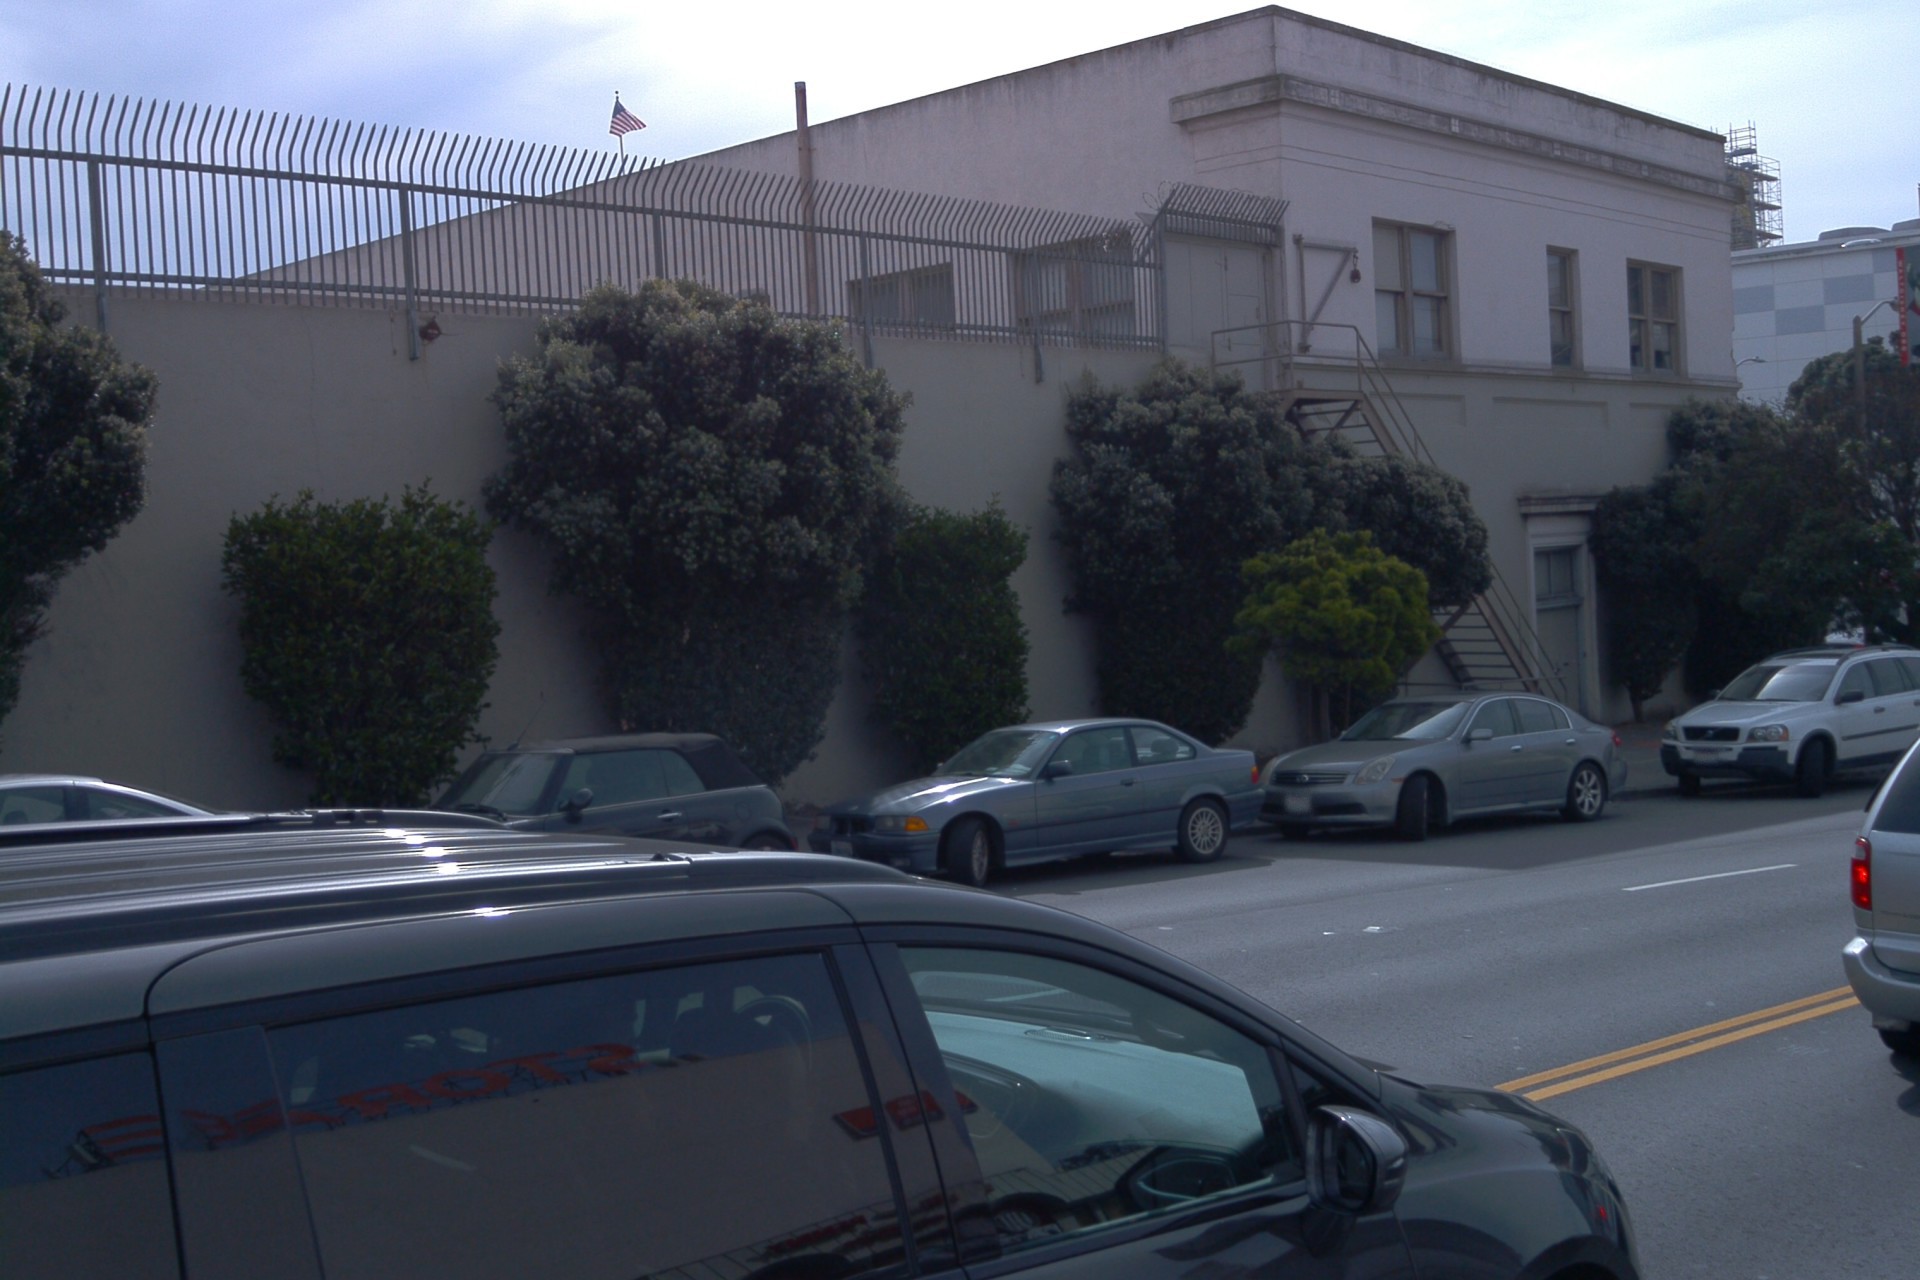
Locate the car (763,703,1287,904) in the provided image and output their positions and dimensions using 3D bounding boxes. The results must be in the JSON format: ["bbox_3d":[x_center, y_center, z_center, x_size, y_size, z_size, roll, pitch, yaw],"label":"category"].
[{"bbox_3d":[0.660,1.361,18.435,4.448,1.390,2.035,-1,1,-39],"label":"car"}]

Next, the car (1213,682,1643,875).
[{"bbox_3d":[5.013,1.356,21.683,4.687,1.660,2.019,-1,1,-41],"label":"car"}]

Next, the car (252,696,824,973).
[{"bbox_3d":[-2.984,1.290,15.040,1.796,1.600,3.729,1,1,44],"label":"car"}]
